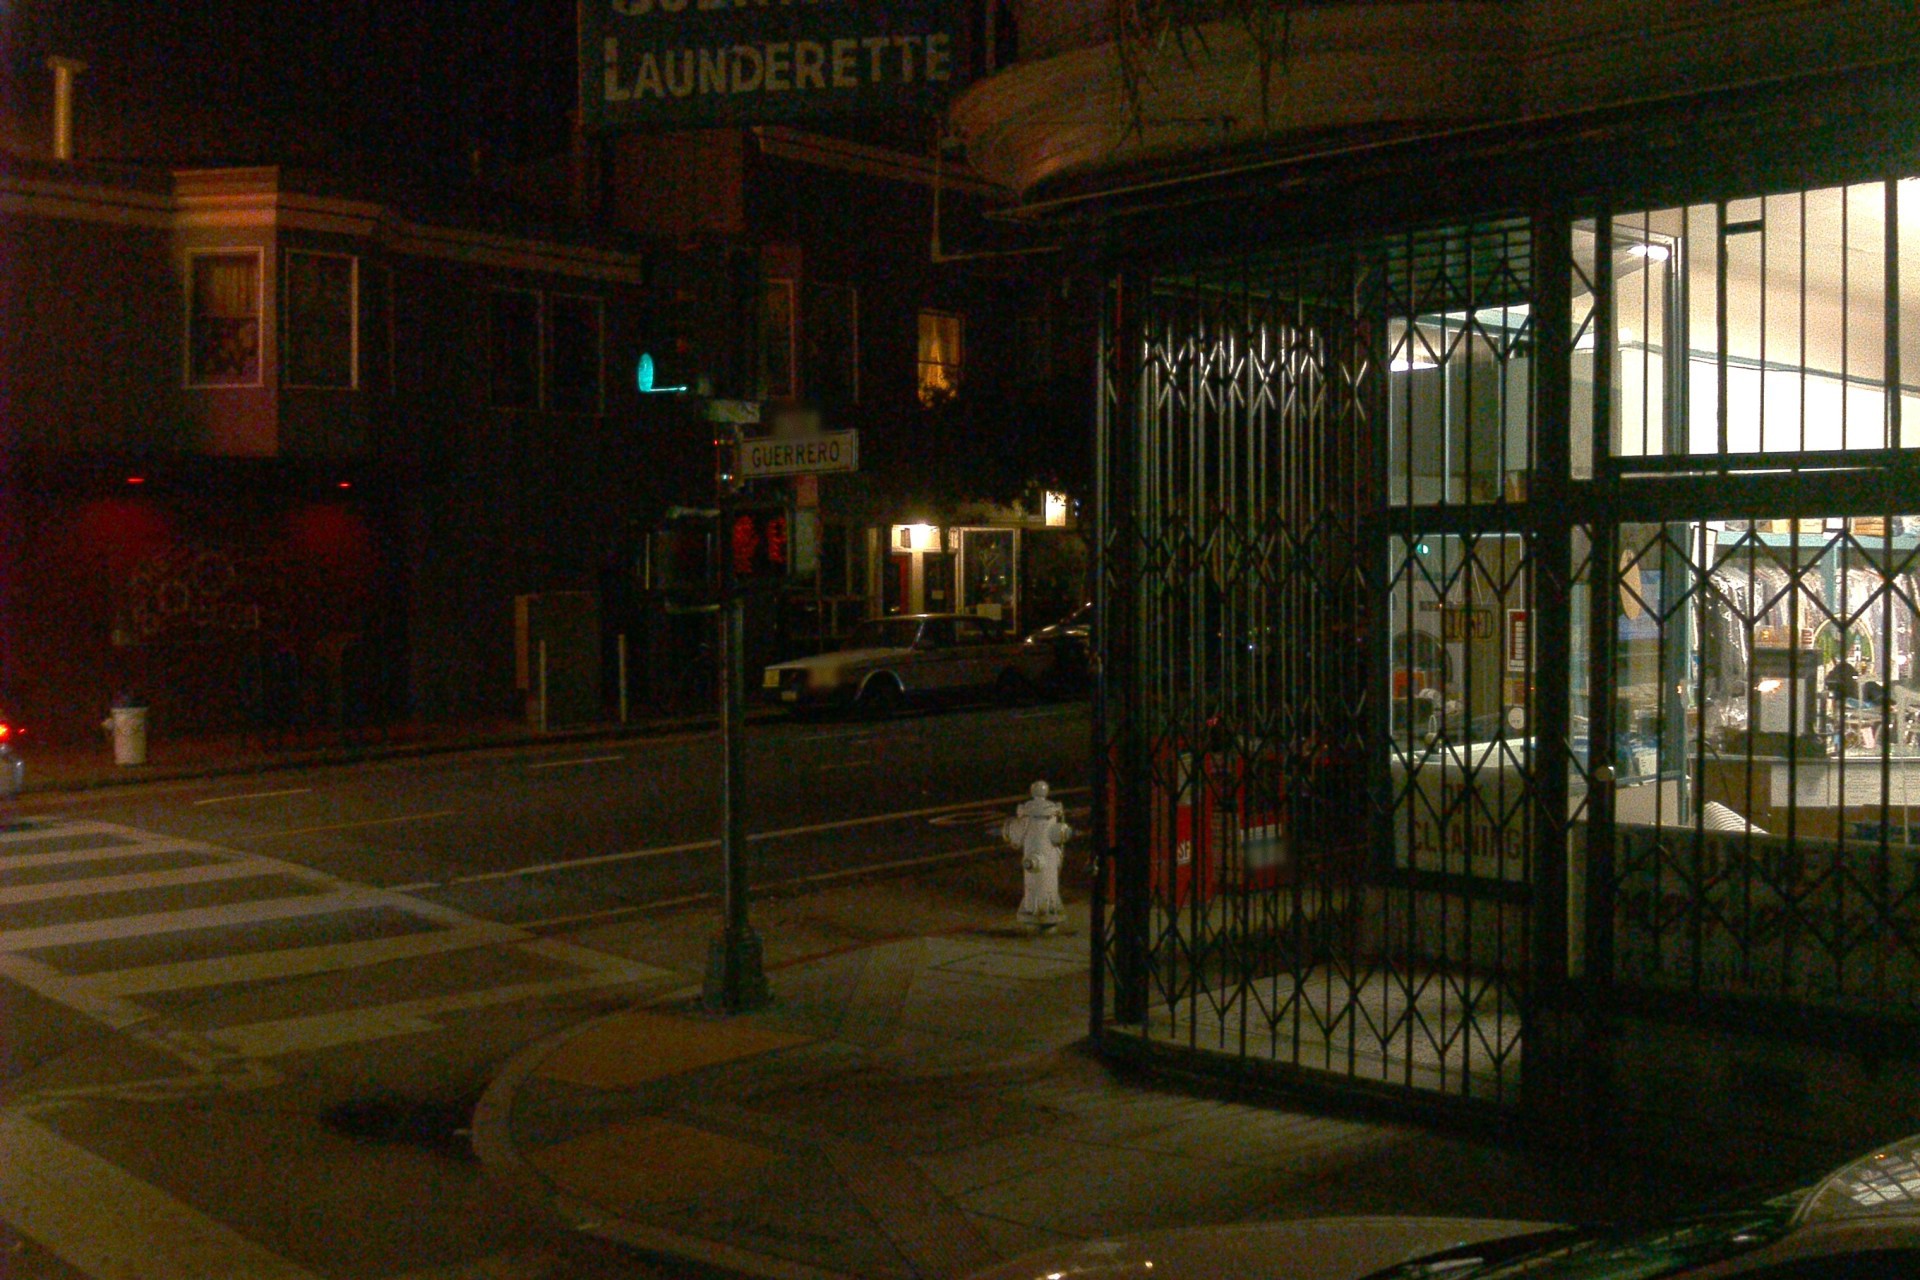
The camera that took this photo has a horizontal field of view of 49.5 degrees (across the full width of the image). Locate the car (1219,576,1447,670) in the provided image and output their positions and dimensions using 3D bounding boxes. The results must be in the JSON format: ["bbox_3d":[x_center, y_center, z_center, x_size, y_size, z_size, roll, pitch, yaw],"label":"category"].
[{"bbox_3d":[6.680,-0.274,37.011,1.924,1.570,4.226,1,0,45],"label":"car"}]

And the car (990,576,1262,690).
[{"bbox_3d":[2.702,-0.091,33.202,1.991,1.690,4.349,1,0,44],"label":"car"}]

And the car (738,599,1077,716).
[{"bbox_3d":[-0.652,0.249,29.840,1.884,1.550,4.981,1,0,43],"label":"car"}]

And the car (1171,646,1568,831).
[{"bbox_3d":[3.605,0.788,18.001,3.504,1.420,1.655,1,0,-45],"label":"car"}]
